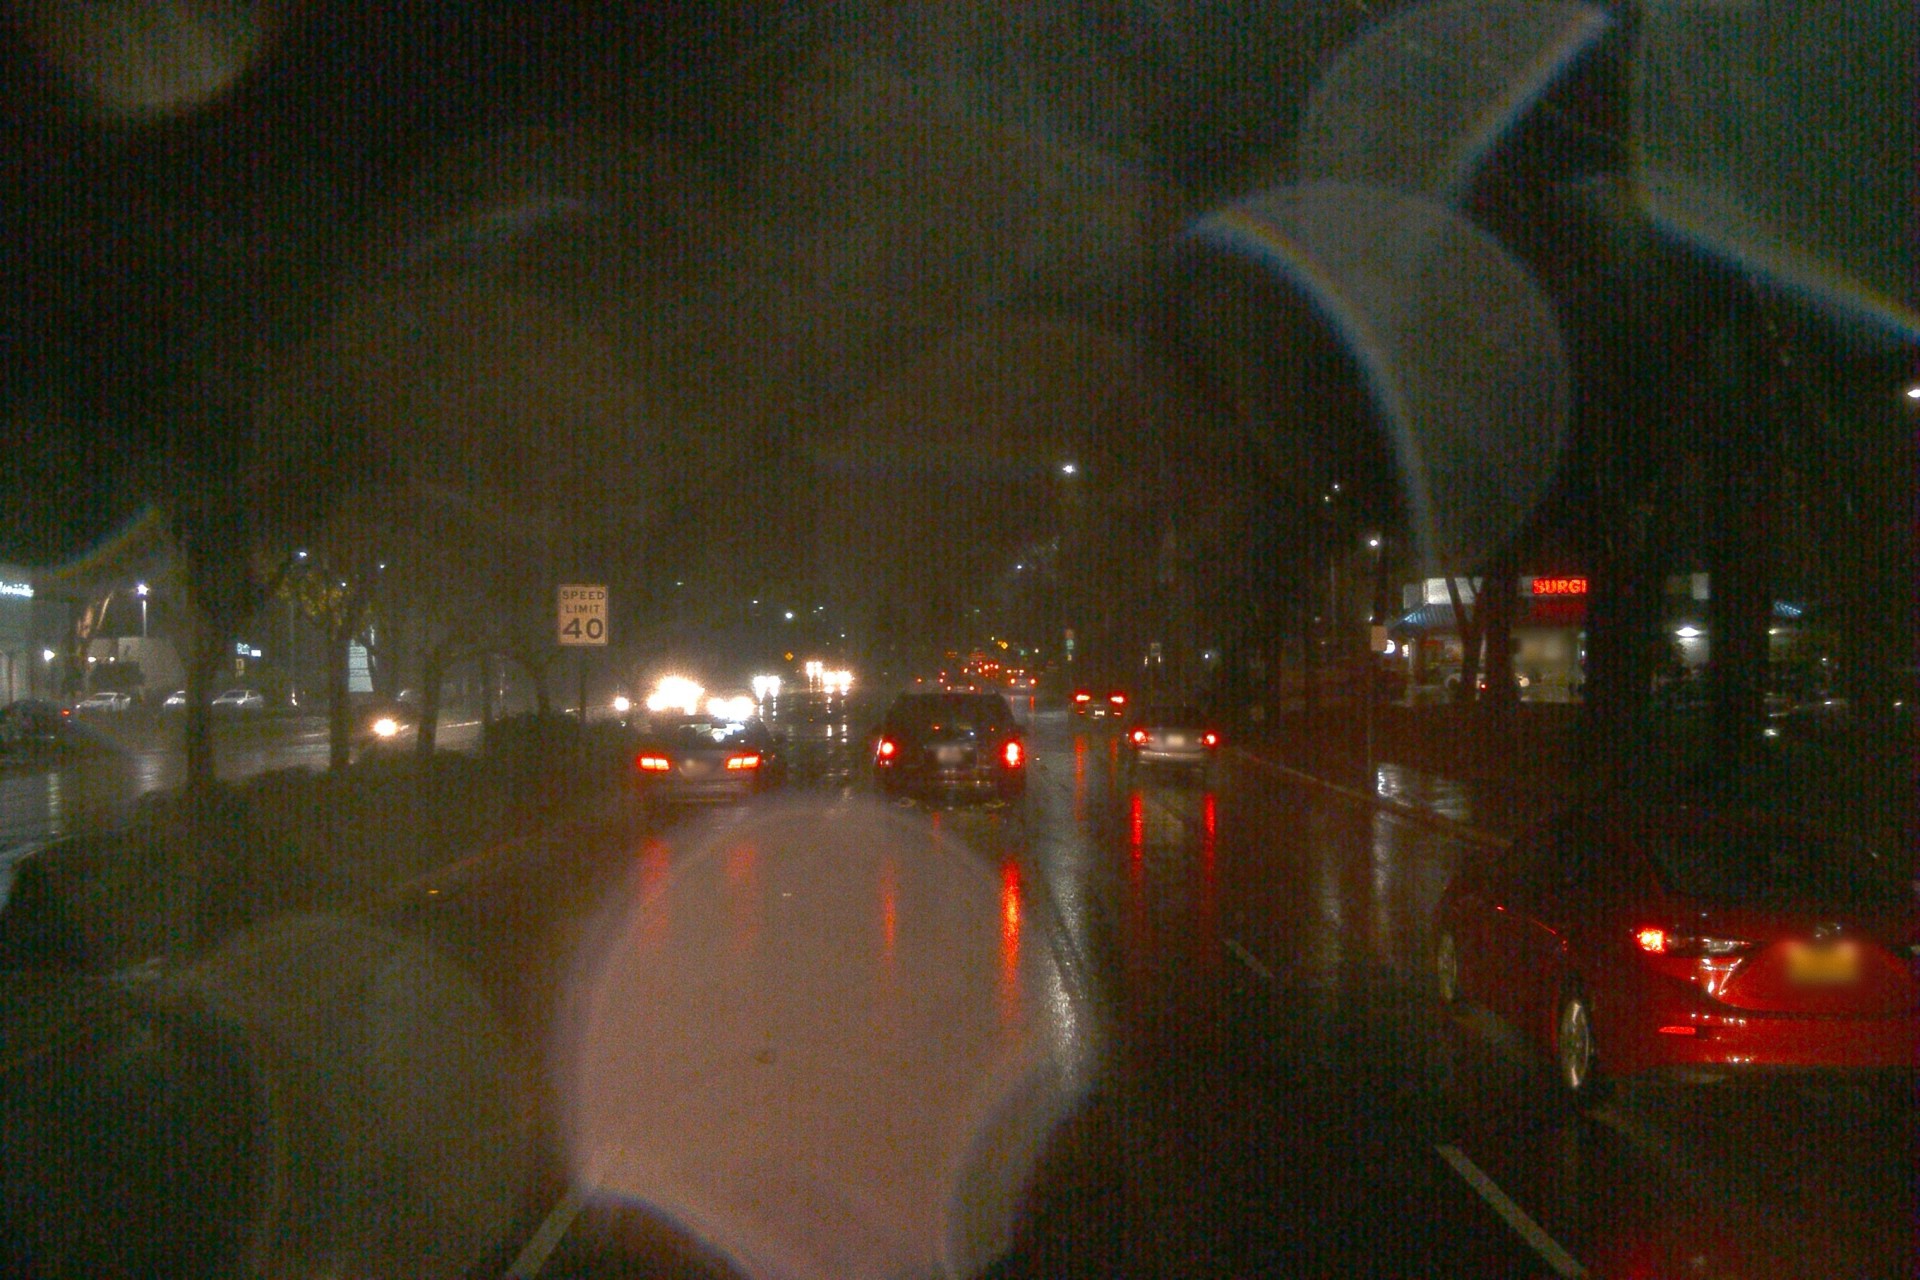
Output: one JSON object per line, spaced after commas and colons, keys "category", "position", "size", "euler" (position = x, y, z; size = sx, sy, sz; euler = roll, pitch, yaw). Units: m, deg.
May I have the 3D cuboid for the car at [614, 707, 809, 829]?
{"category": "car", "position": [-3.541, 1.808, 30.629], "size": [2.307, 1.544, 4.878], "euler": [0, -1, 0]}

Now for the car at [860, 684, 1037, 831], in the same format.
{"category": "car", "position": [-0.148, 1.525, 28.385], "size": [2.222, 1.800, 4.381], "euler": [0, -1, 0]}
